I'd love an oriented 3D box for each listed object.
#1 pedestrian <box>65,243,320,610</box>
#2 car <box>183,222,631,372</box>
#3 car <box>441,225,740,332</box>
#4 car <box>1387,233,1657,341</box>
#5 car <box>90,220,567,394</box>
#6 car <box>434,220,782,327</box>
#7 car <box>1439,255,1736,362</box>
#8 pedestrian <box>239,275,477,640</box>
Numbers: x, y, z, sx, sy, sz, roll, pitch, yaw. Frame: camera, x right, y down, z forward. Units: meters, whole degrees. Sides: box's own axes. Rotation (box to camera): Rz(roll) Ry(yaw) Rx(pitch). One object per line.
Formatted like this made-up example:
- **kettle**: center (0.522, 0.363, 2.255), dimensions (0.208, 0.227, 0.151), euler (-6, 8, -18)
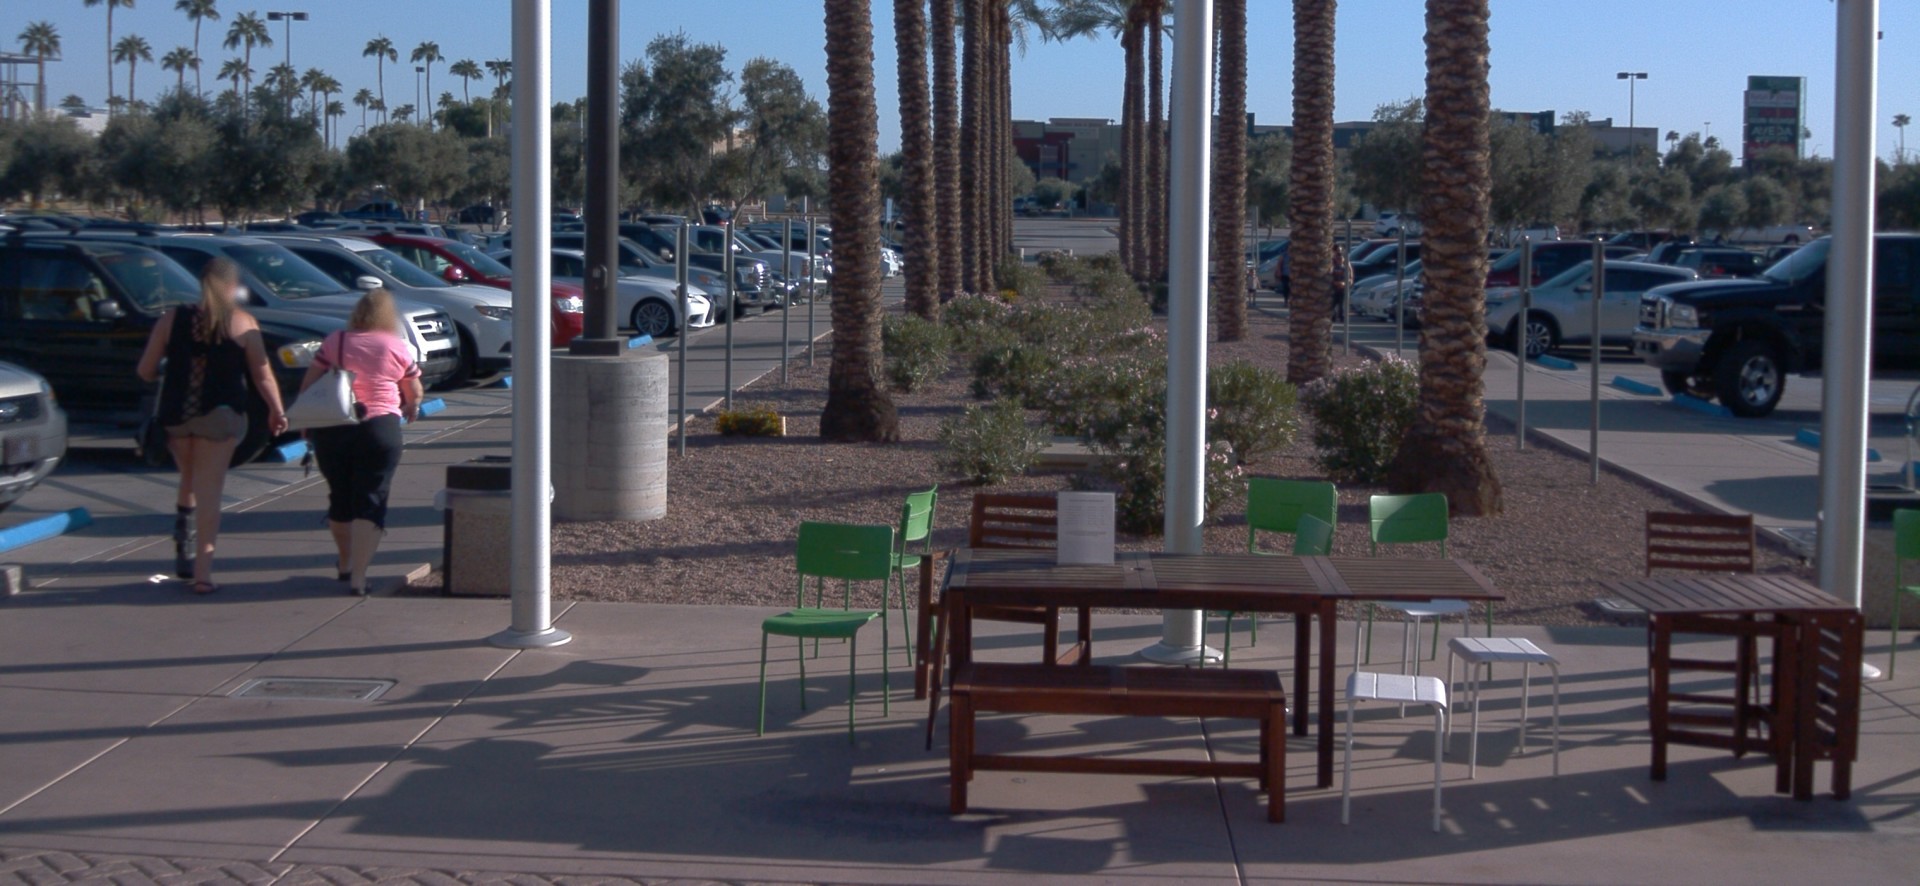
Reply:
- **pedestrian**: center (-4.048, -0.133, 11.040), dimensions (0.949, 1.828, 1.141), euler (1, 2, -3)
- **car**: center (-6.979, -1.914, 26.544), dimensions (5.083, 1.755, 2.151), euler (1, 4, 3)
- **car**: center (-6.394, -2.896, 36.272), dimensions (4.852, 1.736, 1.871), euler (1, 4, 1)
- **car**: center (9.545, -2.693, 35.468), dimensions (4.039, 1.726, 2.032), euler (1, 4, 0)
- **car**: center (-7.129, -1.604, 23.744), dimensions (4.762, 1.805, 2.091), euler (1, 4, 4)
- **car**: center (-6.537, -3.232, 39.115), dimensions (6.083, 1.845, 2.452), euler (1, 4, 1)
- **car**: center (9.843, -2.152, 32.796), dimensions (4.098, 1.546, 1.981), euler (1, 4, 1)
- **pedestrian**: center (-3.159, 0.037, 10.991), dimensions (1.001, 1.808, 1.002), euler (1, 2, -4)
